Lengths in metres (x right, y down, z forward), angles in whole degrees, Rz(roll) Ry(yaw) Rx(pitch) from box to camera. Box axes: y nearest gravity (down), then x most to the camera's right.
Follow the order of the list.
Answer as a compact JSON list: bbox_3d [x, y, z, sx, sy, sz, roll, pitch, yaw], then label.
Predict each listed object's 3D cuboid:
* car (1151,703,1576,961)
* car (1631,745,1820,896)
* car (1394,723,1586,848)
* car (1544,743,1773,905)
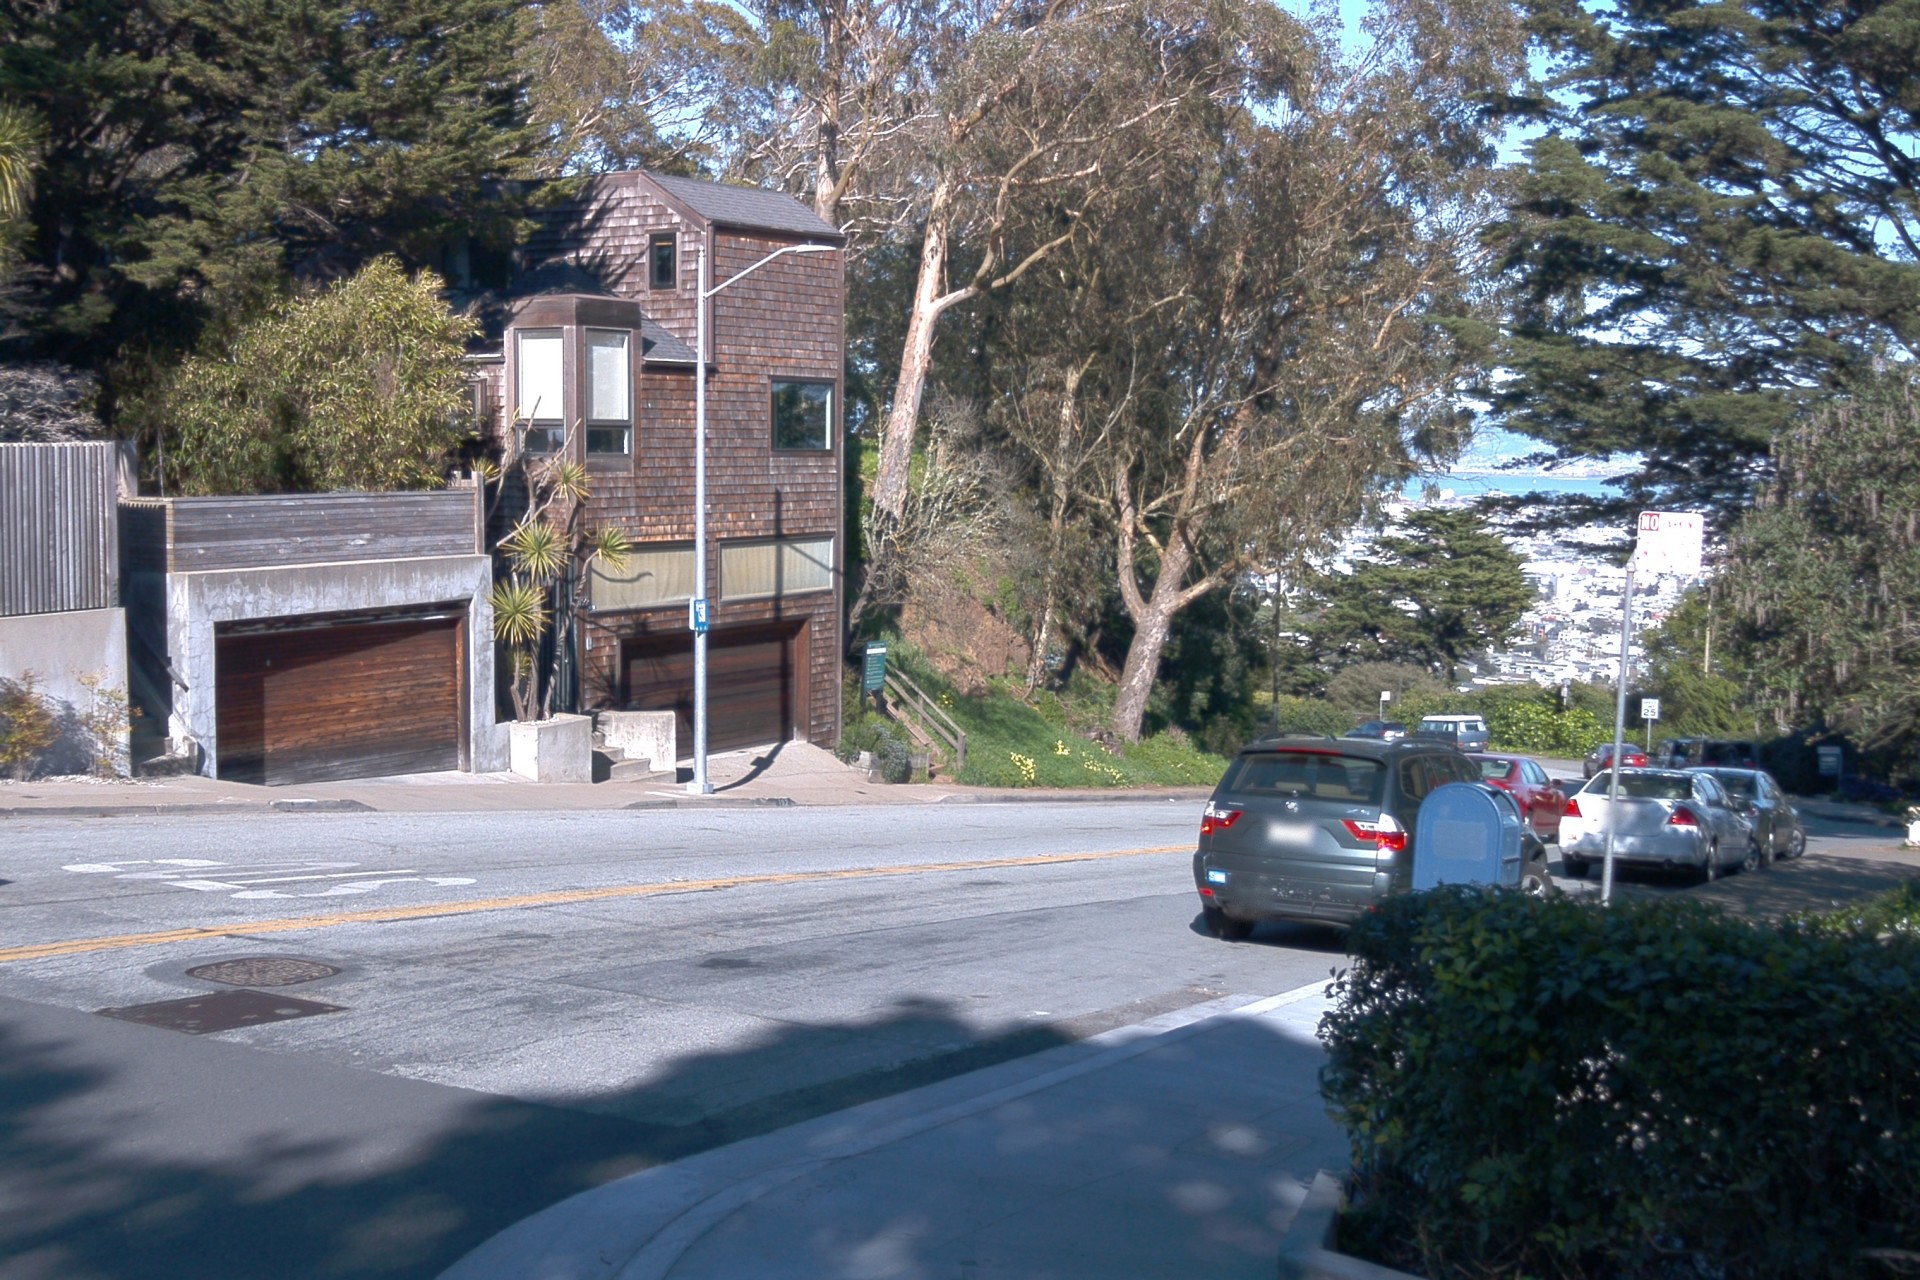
[{"bbox_3d":[3.438,1.420,17.123,2.050,1.690,4.438,0,0,30],"label":"car"},{"bbox_3d":[11.929,2.707,32.469,2.061,1.950,4.543,1,0,29],"label":"car"},{"bbox_3d":[8.703,2.289,34.127,2.009,1.700,4.769,1,0,27],"label":"car"},{"bbox_3d":[9.119,2.292,27.150,1.893,1.720,4.339,1,0,31],"label":"car"}]
